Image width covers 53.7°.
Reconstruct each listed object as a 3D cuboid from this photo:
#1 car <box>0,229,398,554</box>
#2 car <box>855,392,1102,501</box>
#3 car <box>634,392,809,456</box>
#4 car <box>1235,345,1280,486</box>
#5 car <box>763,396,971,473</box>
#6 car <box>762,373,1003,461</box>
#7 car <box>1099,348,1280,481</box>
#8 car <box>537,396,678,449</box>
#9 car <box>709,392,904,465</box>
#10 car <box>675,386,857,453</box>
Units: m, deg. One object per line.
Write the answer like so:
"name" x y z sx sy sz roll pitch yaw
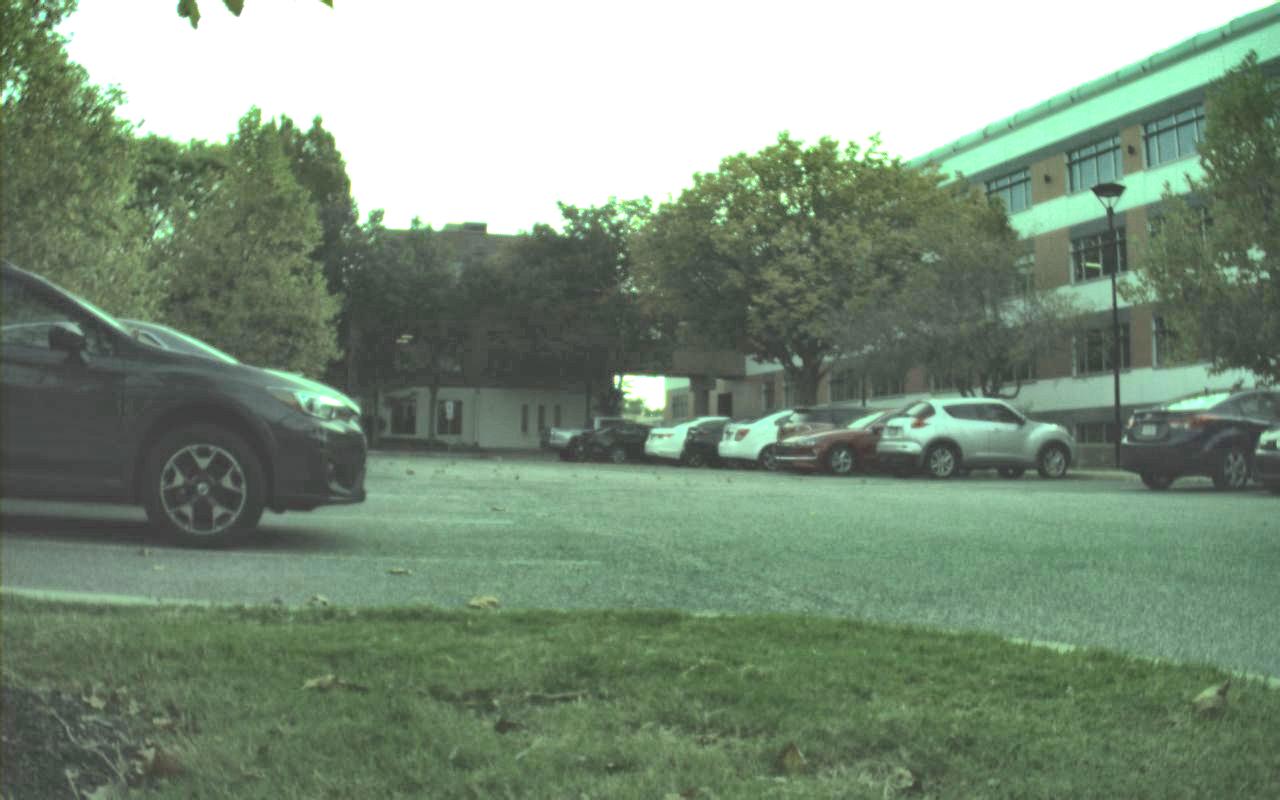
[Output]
"car" -3.710 -0.038 6.660 4.475 1.639 1.969 0 1 -20
"car" 6.551 0.840 23.616 4.461 1.896 1.974 0 1 -15
"car" 2.309 0.655 35.999 4.588 1.719 1.992 0 1 -15
"car" 9.692 0.197 13.693 4.398 1.572 1.924 0 1 -15
"car" 5.232 0.748 28.719 4.414 1.628 1.946 0 1 -15
"car" 5.066 0.319 25.938 4.680 1.687 1.994 0 1 -15
"car" 8.772 0.191 16.053 4.599 1.662 1.977 0 1 -16
"car" -1.262 0.838 48.193 5.019 1.917 2.094 0 1 -18
"car" 4.130 0.667 31.184 4.454 1.688 1.952 0 1 -14
"car" 3.347 0.486 33.518 4.463 1.652 1.953 0 1 -16
